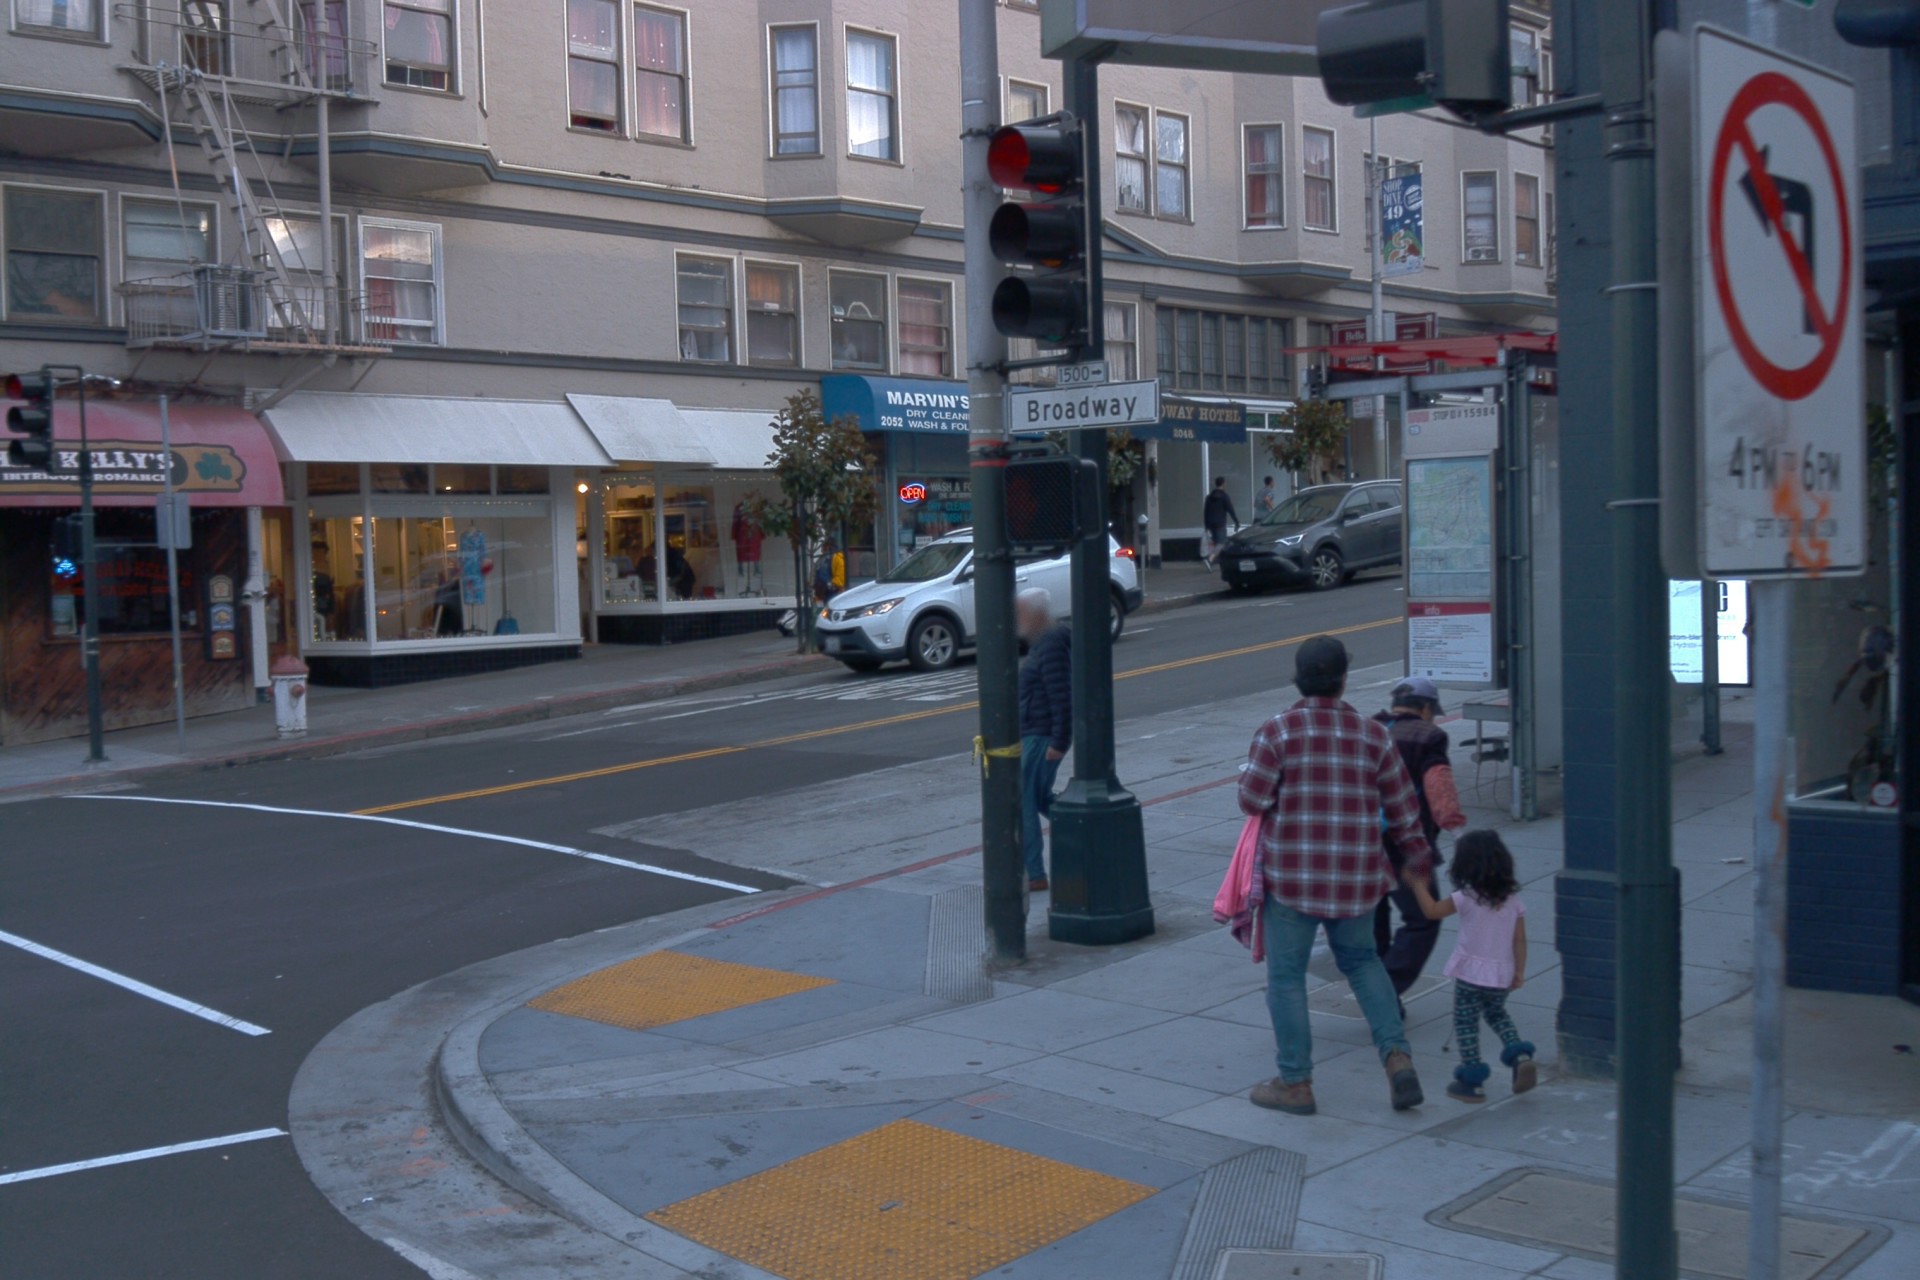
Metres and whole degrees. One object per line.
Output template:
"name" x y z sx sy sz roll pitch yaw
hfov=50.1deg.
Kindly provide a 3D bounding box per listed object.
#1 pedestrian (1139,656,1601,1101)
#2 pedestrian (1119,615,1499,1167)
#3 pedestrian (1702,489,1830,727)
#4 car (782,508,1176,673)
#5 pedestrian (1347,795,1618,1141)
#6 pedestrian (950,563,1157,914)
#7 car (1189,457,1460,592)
"pedestrian" 1.721 0.893 8.599 1.353 1.630 1.390 1 1 43
"pedestrian" 1.238 0.838 7.510 0.955 1.840 1.112 0 0 -16
"pedestrian" 5.777 -0.225 14.761 0.644 1.660 0.628 0 0 -1
"car" 0.274 -0.580 26.337 4.556 1.930 2.267 0 0 -35
"pedestrian" 1.890 1.159 7.492 0.659 1.120 0.695 0 0 -22
"pedestrian" 0.545 0.527 11.593 1.081 1.890 0.894 1 0 7
"car" 6.121 -1.849 34.289 4.424 2.000 2.160 0 0 -42
